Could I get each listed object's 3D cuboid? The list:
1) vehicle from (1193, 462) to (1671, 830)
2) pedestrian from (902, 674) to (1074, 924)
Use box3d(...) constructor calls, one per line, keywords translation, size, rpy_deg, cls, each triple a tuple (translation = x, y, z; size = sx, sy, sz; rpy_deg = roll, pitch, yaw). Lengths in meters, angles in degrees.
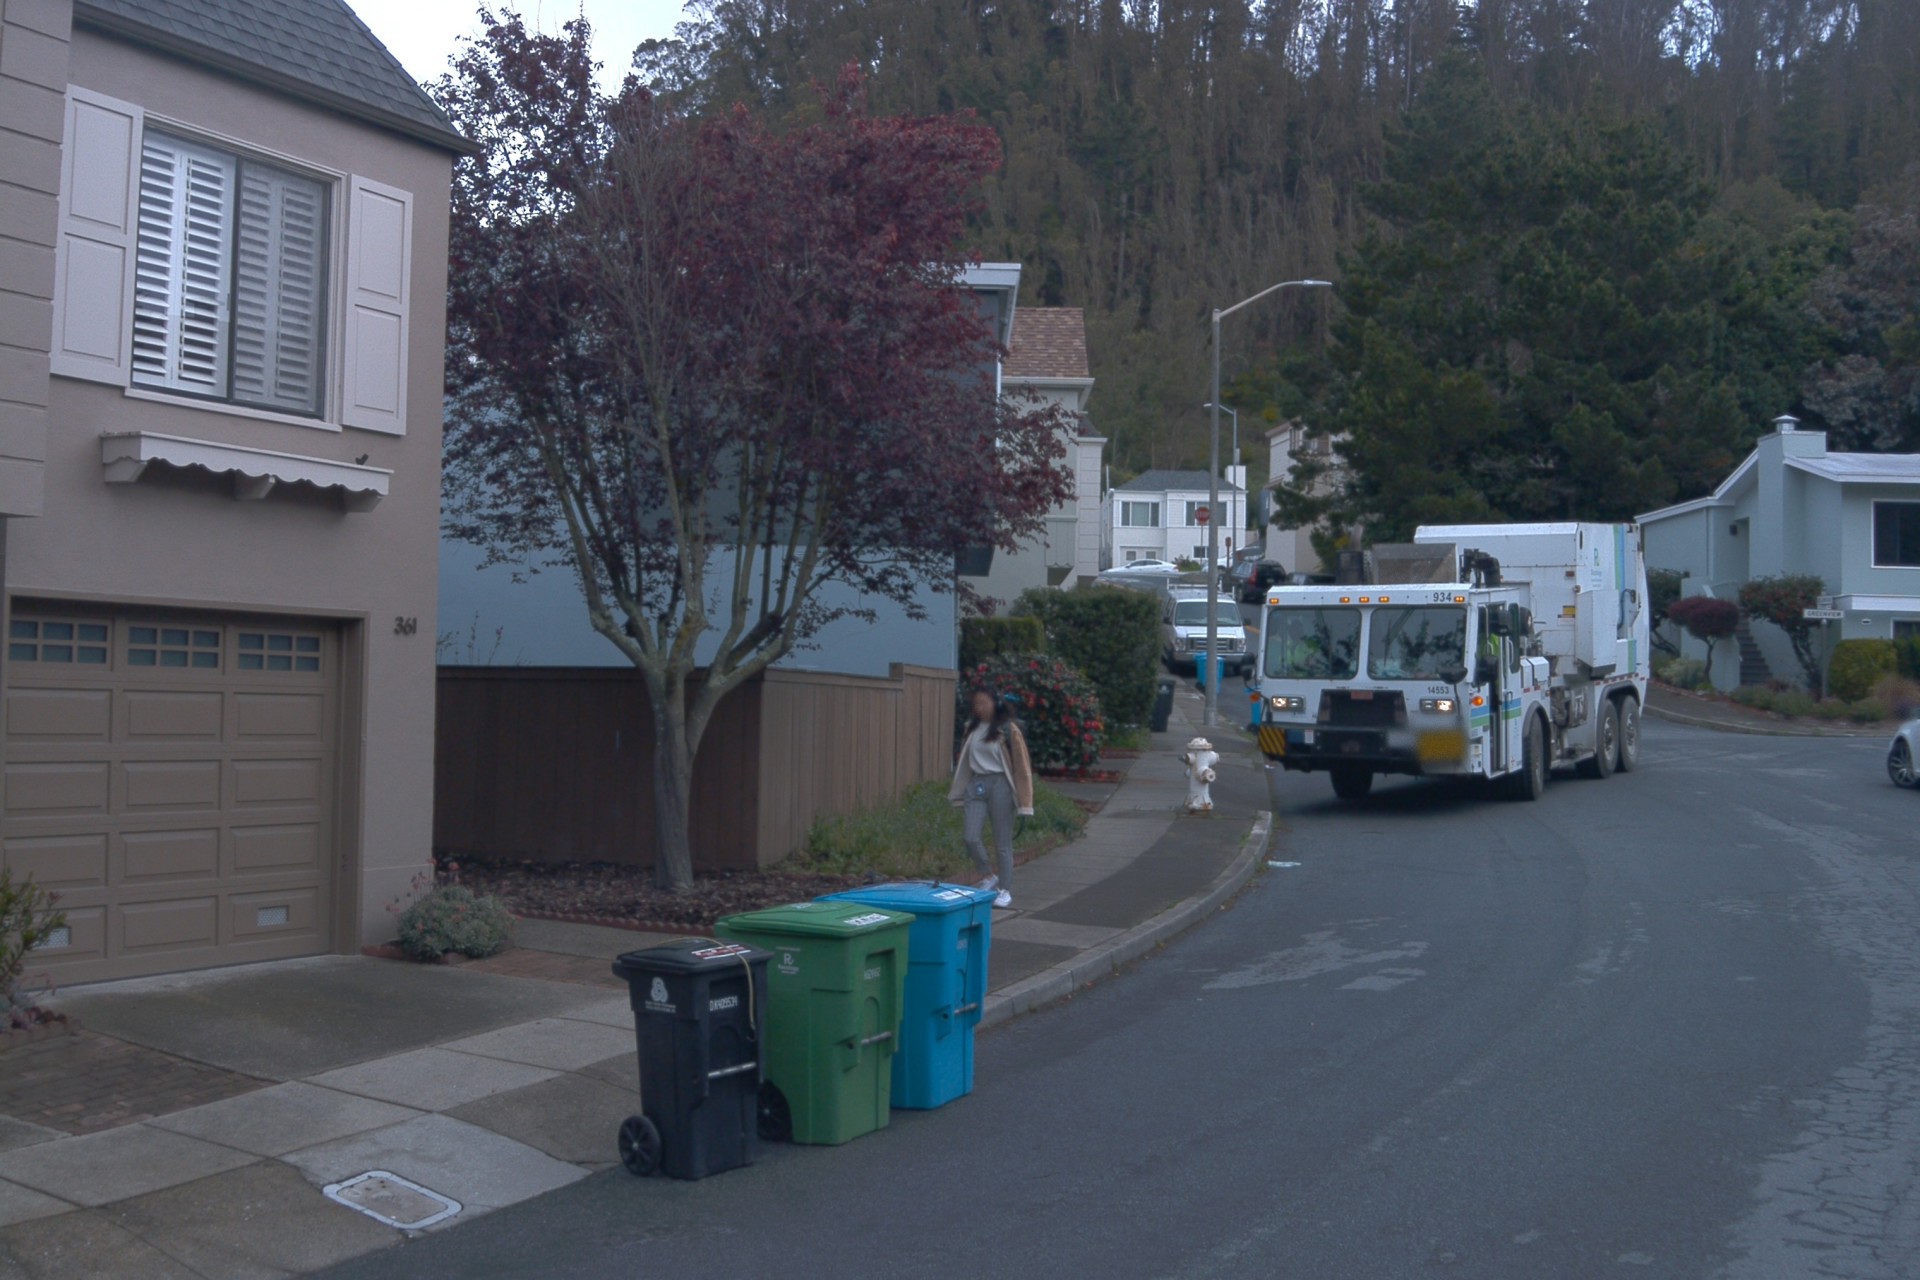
box3d(translation=(6.719, 0.039, 27.534), size=(3.286, 3.920, 10.724), rpy_deg=(0, 0, 29), cls="vehicle")
box3d(translation=(0.216, 1.133, 15.259), size=(0.948, 1.740, 1.005), rpy_deg=(0, 0, 22), cls="pedestrian")
